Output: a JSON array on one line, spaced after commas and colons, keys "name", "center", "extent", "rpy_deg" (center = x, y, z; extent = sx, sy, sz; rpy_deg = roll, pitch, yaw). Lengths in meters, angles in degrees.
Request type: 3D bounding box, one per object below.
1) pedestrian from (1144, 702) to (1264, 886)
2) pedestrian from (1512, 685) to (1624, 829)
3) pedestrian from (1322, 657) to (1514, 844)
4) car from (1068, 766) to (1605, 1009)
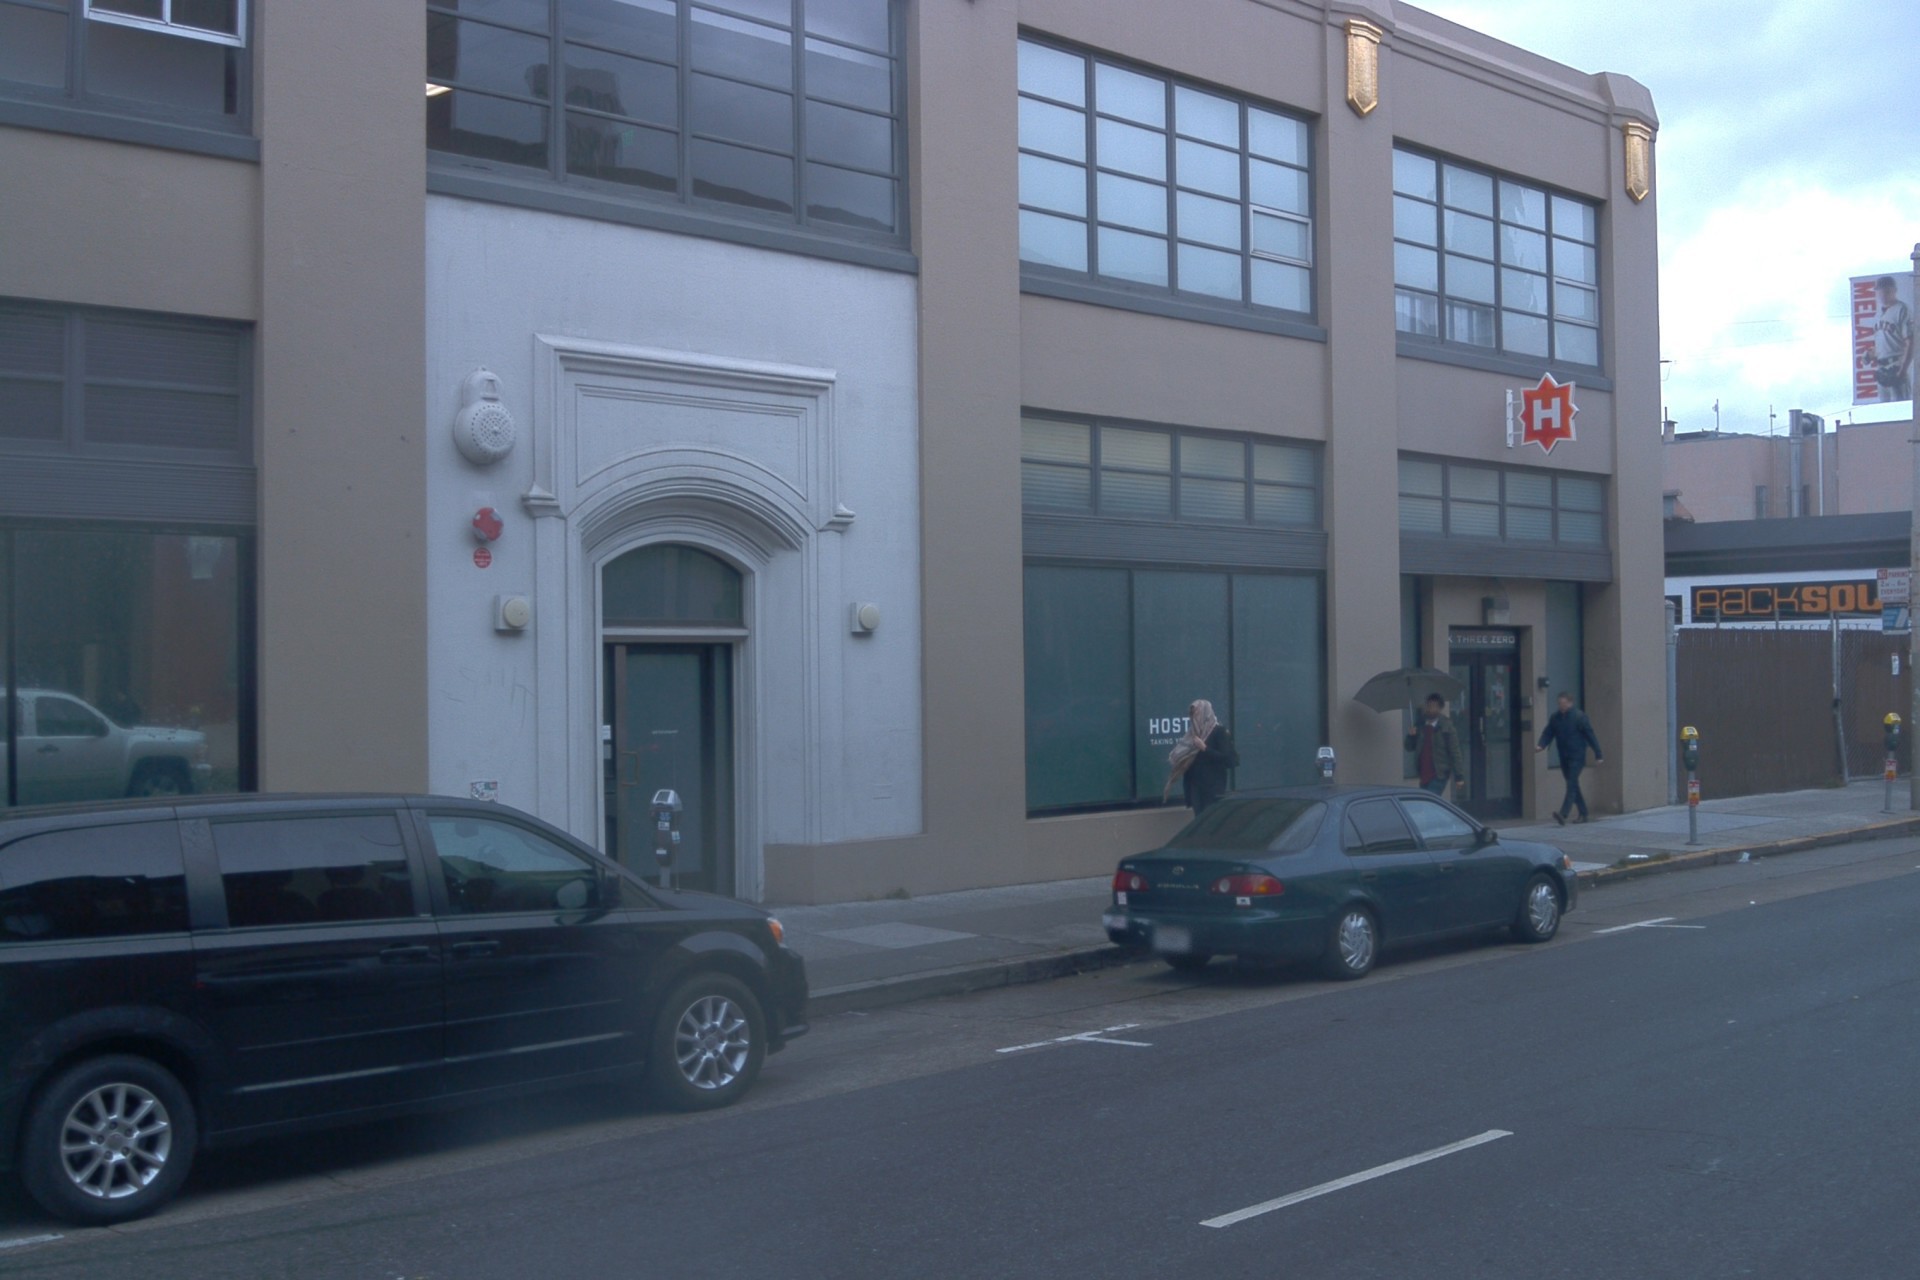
[{"name": "pedestrian", "center": [2.430, 1.506, 20.710], "extent": [0.841, 1.740, 0.852], "rpy_deg": [0, 0, 44]}, {"name": "pedestrian", "center": [7.559, 1.430, 25.873], "extent": [1.083, 1.708, 0.924], "rpy_deg": [0, 0, -44]}, {"name": "pedestrian", "center": [5.048, 1.164, 22.916], "extent": [1.494, 1.950, 1.513], "rpy_deg": [0, 0, 44]}, {"name": "car", "center": [2.965, 1.751, 15.769], "extent": [4.350, 1.328, 1.799], "rpy_deg": [0, 0, -44]}]
